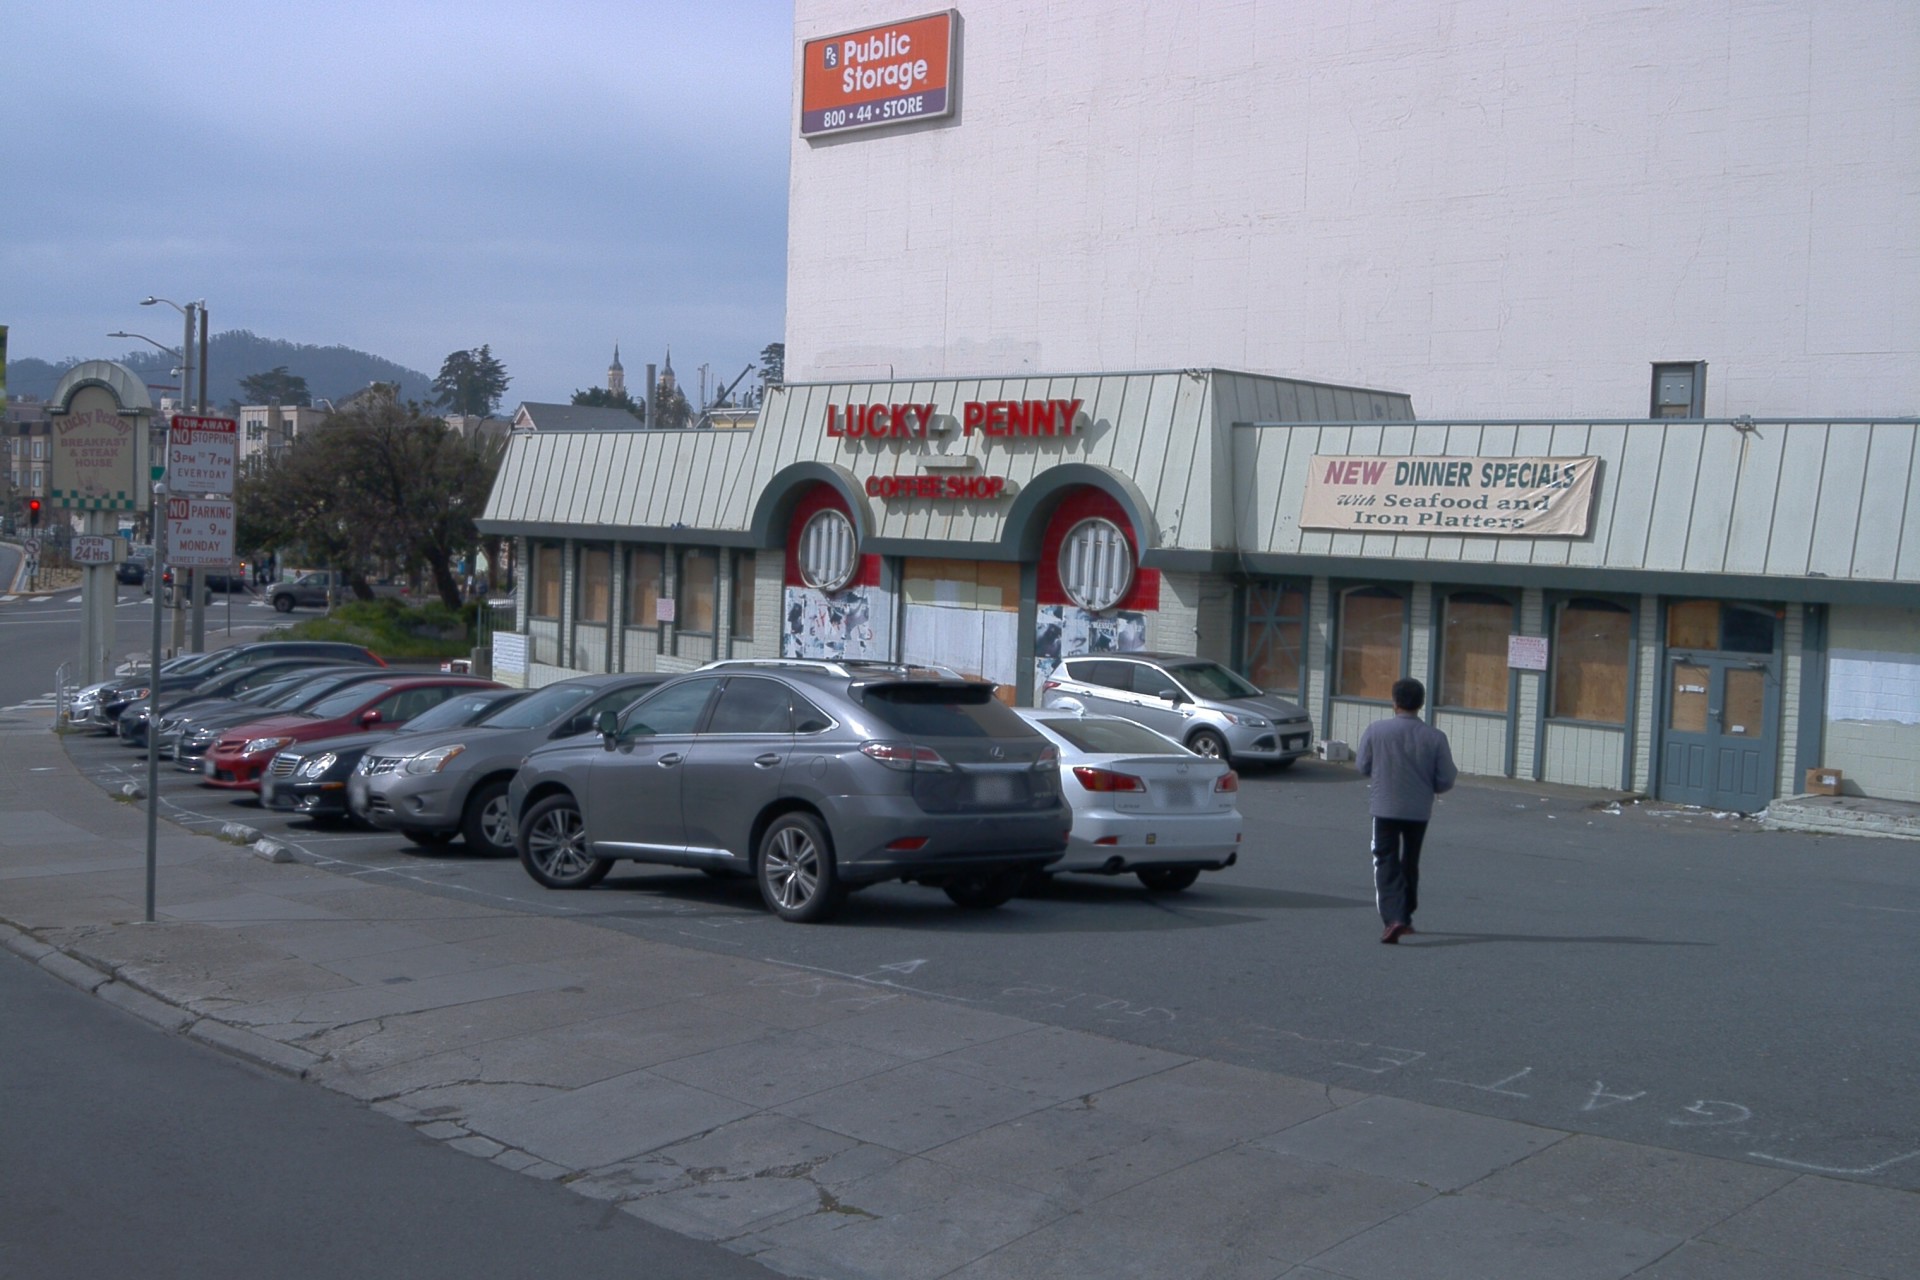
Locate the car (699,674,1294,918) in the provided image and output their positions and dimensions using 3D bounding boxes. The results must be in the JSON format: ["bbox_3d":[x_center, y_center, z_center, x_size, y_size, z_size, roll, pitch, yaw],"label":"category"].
[{"bbox_3d":[0.159,1.130,16.691,2.088,1.580,4.738,0,0,-44],"label":"car"}]

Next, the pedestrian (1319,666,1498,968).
[{"bbox_3d":[2.738,1.048,12.612,0.943,1.744,1.076,1,0,6],"label":"pedestrian"}]

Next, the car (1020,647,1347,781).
[{"bbox_3d":[3.289,1.037,30.718,2.134,1.790,4.557,0,0,-44],"label":"car"}]

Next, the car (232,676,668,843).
[{"bbox_3d":[-5.264,1.168,21.426,4.029,1.500,1.869,0,0,-45],"label":"car"}]

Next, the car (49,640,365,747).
[{"bbox_3d":[-13.134,0.886,35.854,4.757,1.740,2.072,0,0,-43],"label":"car"}]

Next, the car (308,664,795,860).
[{"bbox_3d":[-3.714,1.035,19.045,1.975,1.570,4.019,1,0,44],"label":"car"}]

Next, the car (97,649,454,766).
[{"bbox_3d":[-10.336,0.954,31.104,4.651,1.610,2.192,0,0,-43],"label":"car"}]

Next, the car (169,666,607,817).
[{"bbox_3d":[-6.657,1.108,24.115,4.484,1.550,2.134,0,0,-44],"label":"car"}]

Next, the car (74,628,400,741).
[{"bbox_3d":[-11.717,0.676,33.334,4.561,1.710,2.059,0,0,-43],"label":"car"}]

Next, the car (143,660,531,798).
[{"bbox_3d":[-7.972,1.076,26.409,4.343,1.580,1.994,0,0,-43],"label":"car"}]

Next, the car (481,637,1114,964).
[{"bbox_3d":[-1.292,0.966,14.599,2.065,1.920,4.493,0,0,-45],"label":"car"}]

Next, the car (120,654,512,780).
[{"bbox_3d":[-8.982,1.008,28.781,4.736,1.590,2.241,0,0,-44],"label":"car"}]
